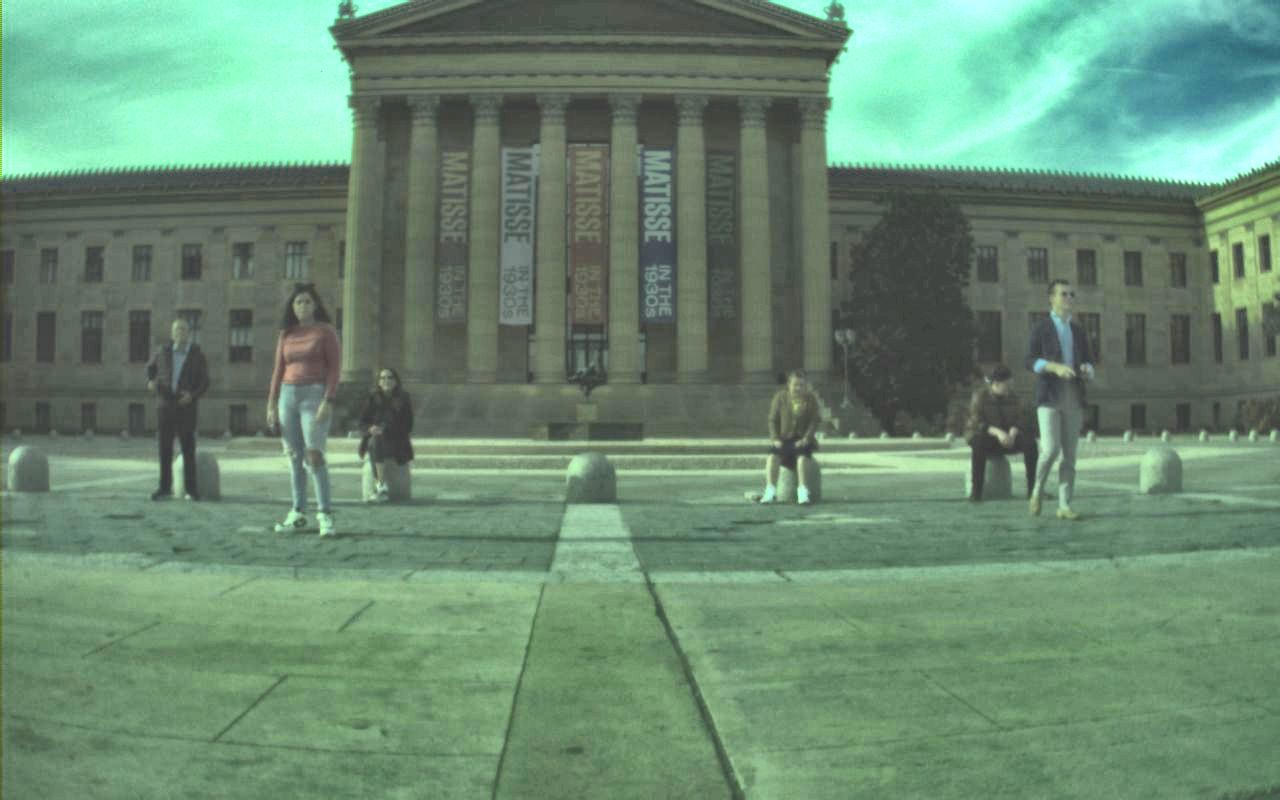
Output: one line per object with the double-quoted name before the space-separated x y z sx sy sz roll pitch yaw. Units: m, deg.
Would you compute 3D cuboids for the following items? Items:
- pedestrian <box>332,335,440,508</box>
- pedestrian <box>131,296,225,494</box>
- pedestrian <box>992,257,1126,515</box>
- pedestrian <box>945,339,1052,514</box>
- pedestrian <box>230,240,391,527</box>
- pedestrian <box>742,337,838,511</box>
"pedestrian" -2.326 0.182 11.390 0.787 1.520 0.831 0 0 6
"pedestrian" -4.230 -0.039 10.852 0.797 1.747 0.821 0 0 -13
"pedestrian" 3.063 -0.093 8.840 0.773 1.797 0.798 0 0 -2
"pedestrian" 3.362 0.243 11.507 0.810 1.576 0.854 0 0 1
"pedestrian" -2.109 -0.105 7.808 0.759 1.719 0.780 1 0 16
"pedestrian" 1.392 0.207 11.544 0.777 1.541 0.820 1 0 13
